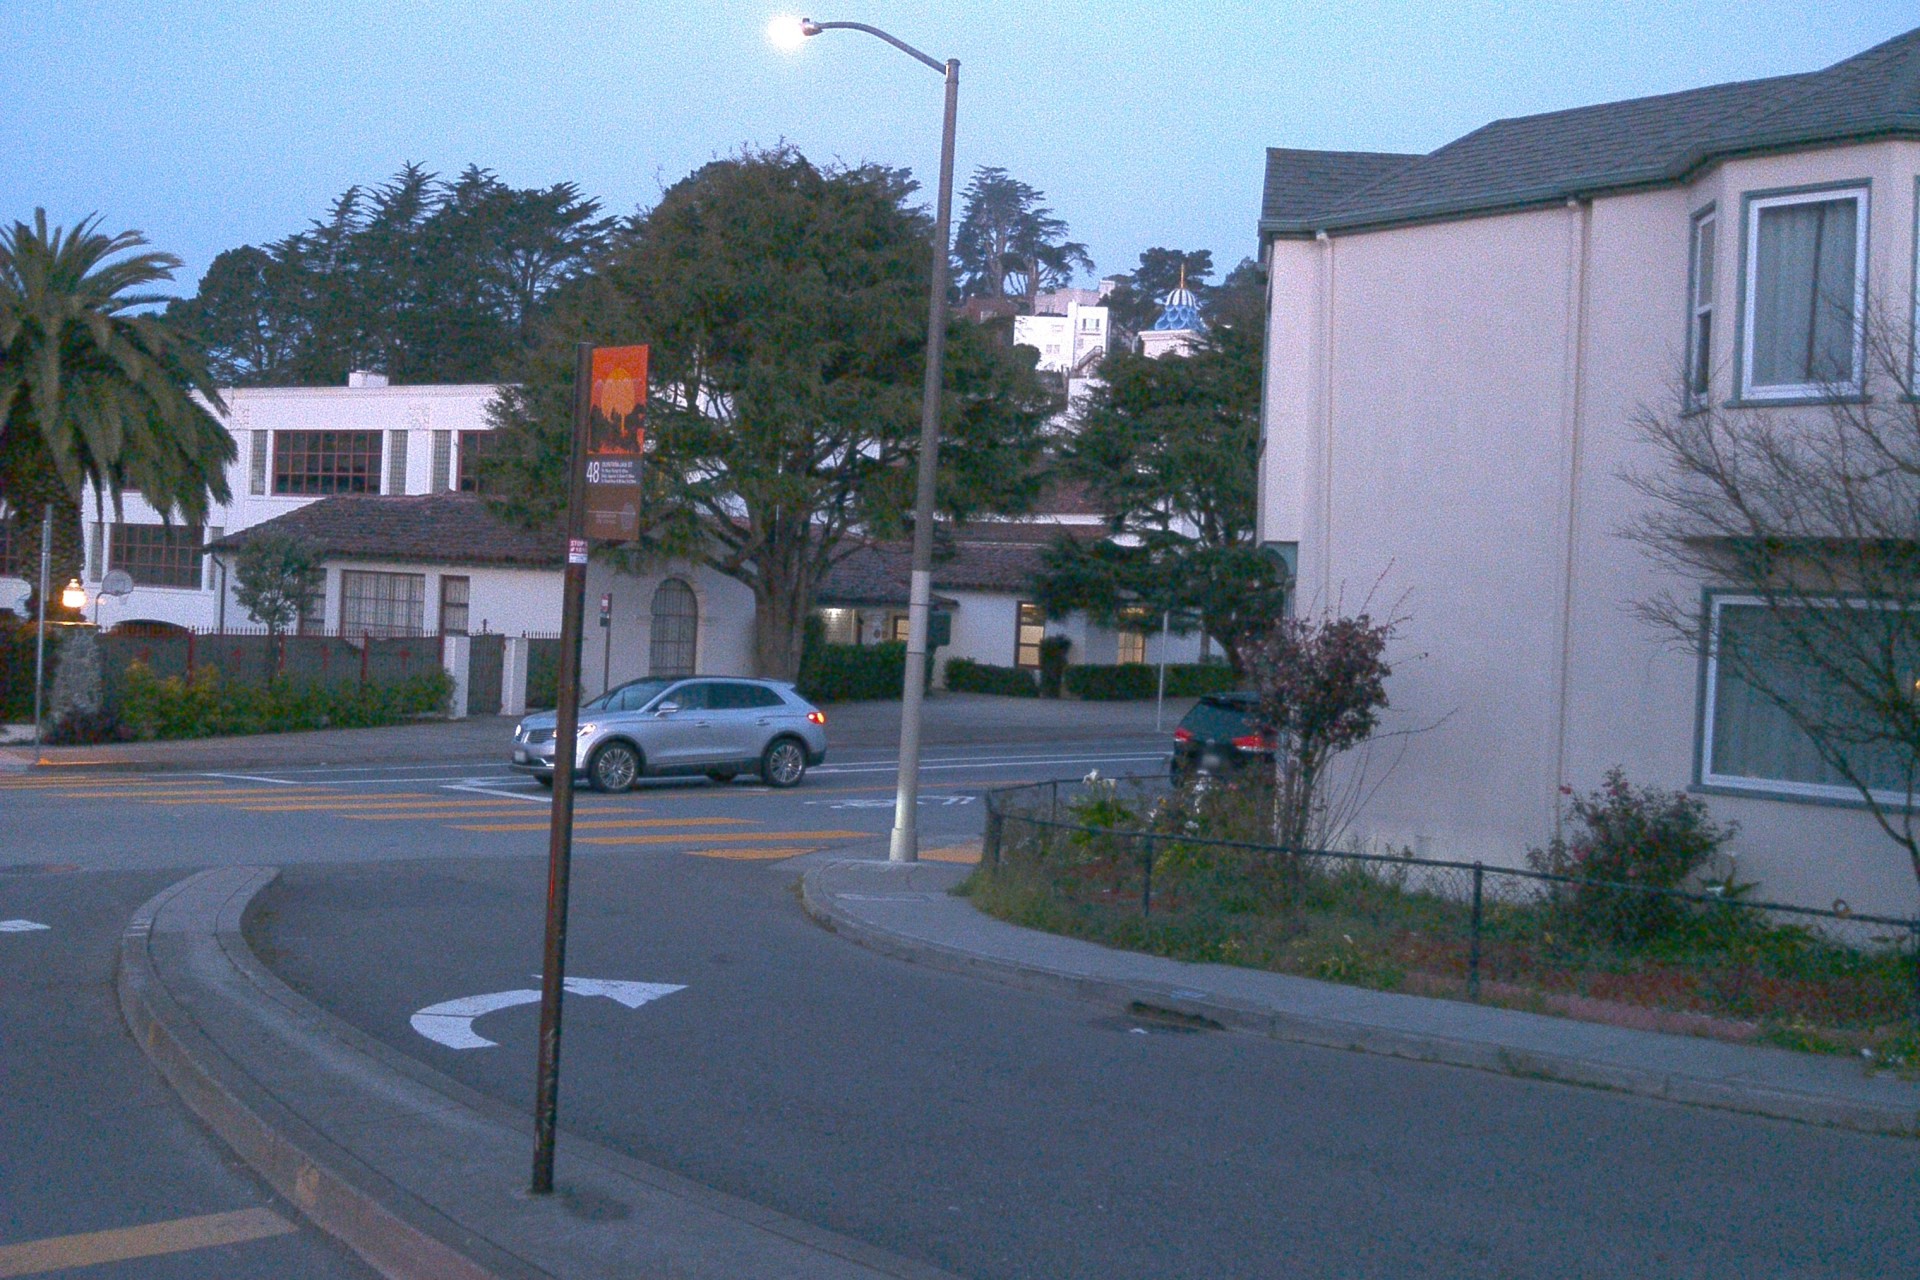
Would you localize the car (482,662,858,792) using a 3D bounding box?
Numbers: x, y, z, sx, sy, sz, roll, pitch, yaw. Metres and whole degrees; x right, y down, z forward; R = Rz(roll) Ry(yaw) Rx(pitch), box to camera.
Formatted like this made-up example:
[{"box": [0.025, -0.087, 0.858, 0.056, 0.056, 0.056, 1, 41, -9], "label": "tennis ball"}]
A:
[{"box": [-4.179, 1.210, 30.665, 5.027, 1.730, 2.150, 1, 0, -39], "label": "car"}]

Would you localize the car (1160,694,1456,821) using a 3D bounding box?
[{"box": [5.027, 1.635, 30.201, 3.819, 1.660, 2.058, 1, 0, -34], "label": "car"}]
